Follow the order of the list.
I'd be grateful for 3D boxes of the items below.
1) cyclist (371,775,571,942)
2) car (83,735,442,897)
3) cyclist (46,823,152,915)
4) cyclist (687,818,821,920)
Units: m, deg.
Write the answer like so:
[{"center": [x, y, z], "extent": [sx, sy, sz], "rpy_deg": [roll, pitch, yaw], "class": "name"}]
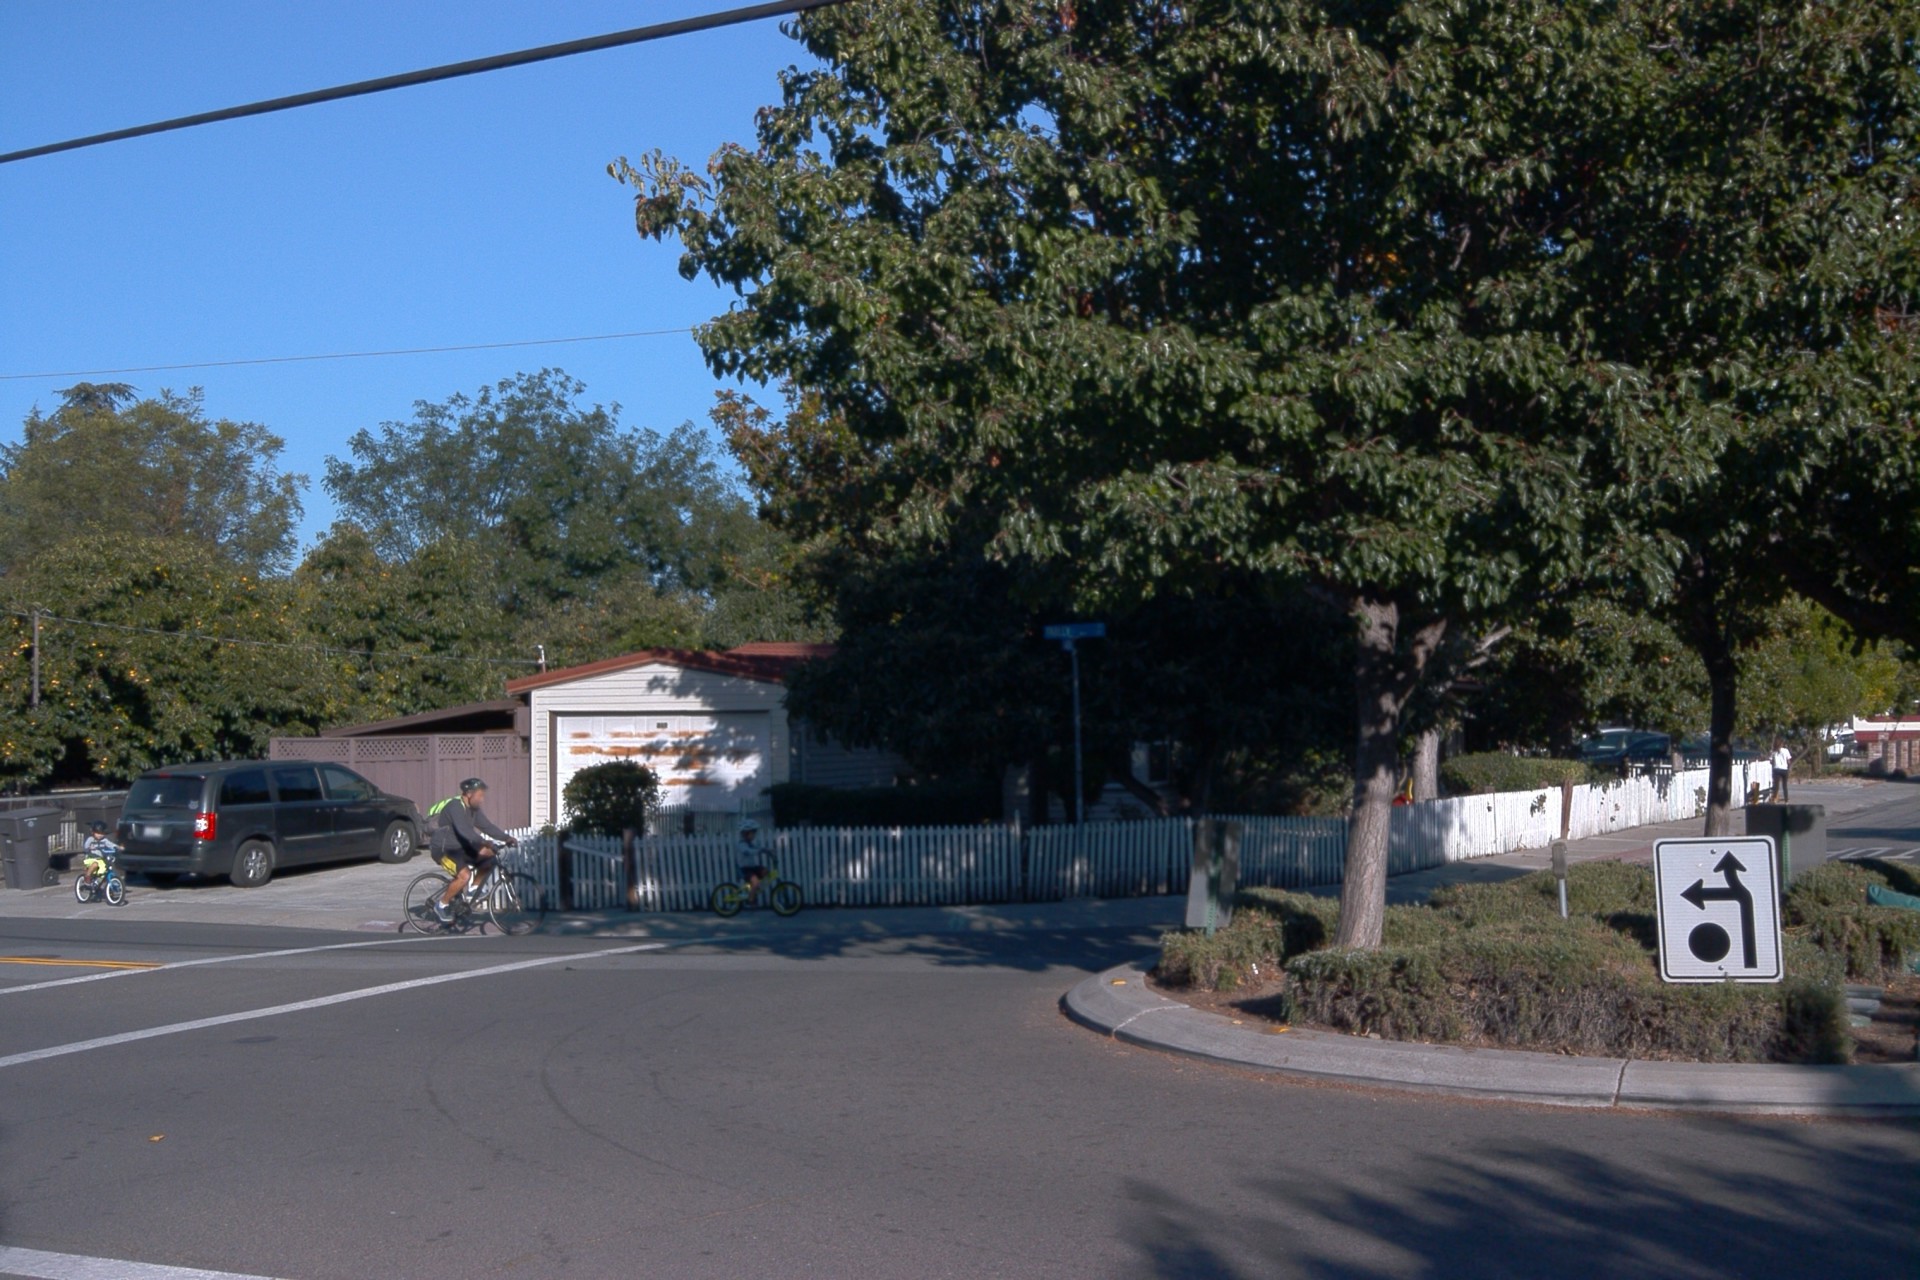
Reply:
[{"center": [-5.373, 2.378, 22.860], "extent": [1.950, 1.668, 0.824], "rpy_deg": [1, 0, 17], "class": "cyclist"}, {"center": [-10.141, 2.499, 30.679], "extent": [2.140, 1.930, 4.988], "rpy_deg": [1, 0, 24], "class": "car"}, {"center": [-11.237, 2.969, 27.118], "extent": [1.201, 1.060, 0.649], "rpy_deg": [1, 0, 29], "class": "cyclist"}, {"center": [-2.344, 2.597, 23.701], "extent": [1.332, 1.030, 0.691], "rpy_deg": [1, 0, 13], "class": "cyclist"}]
